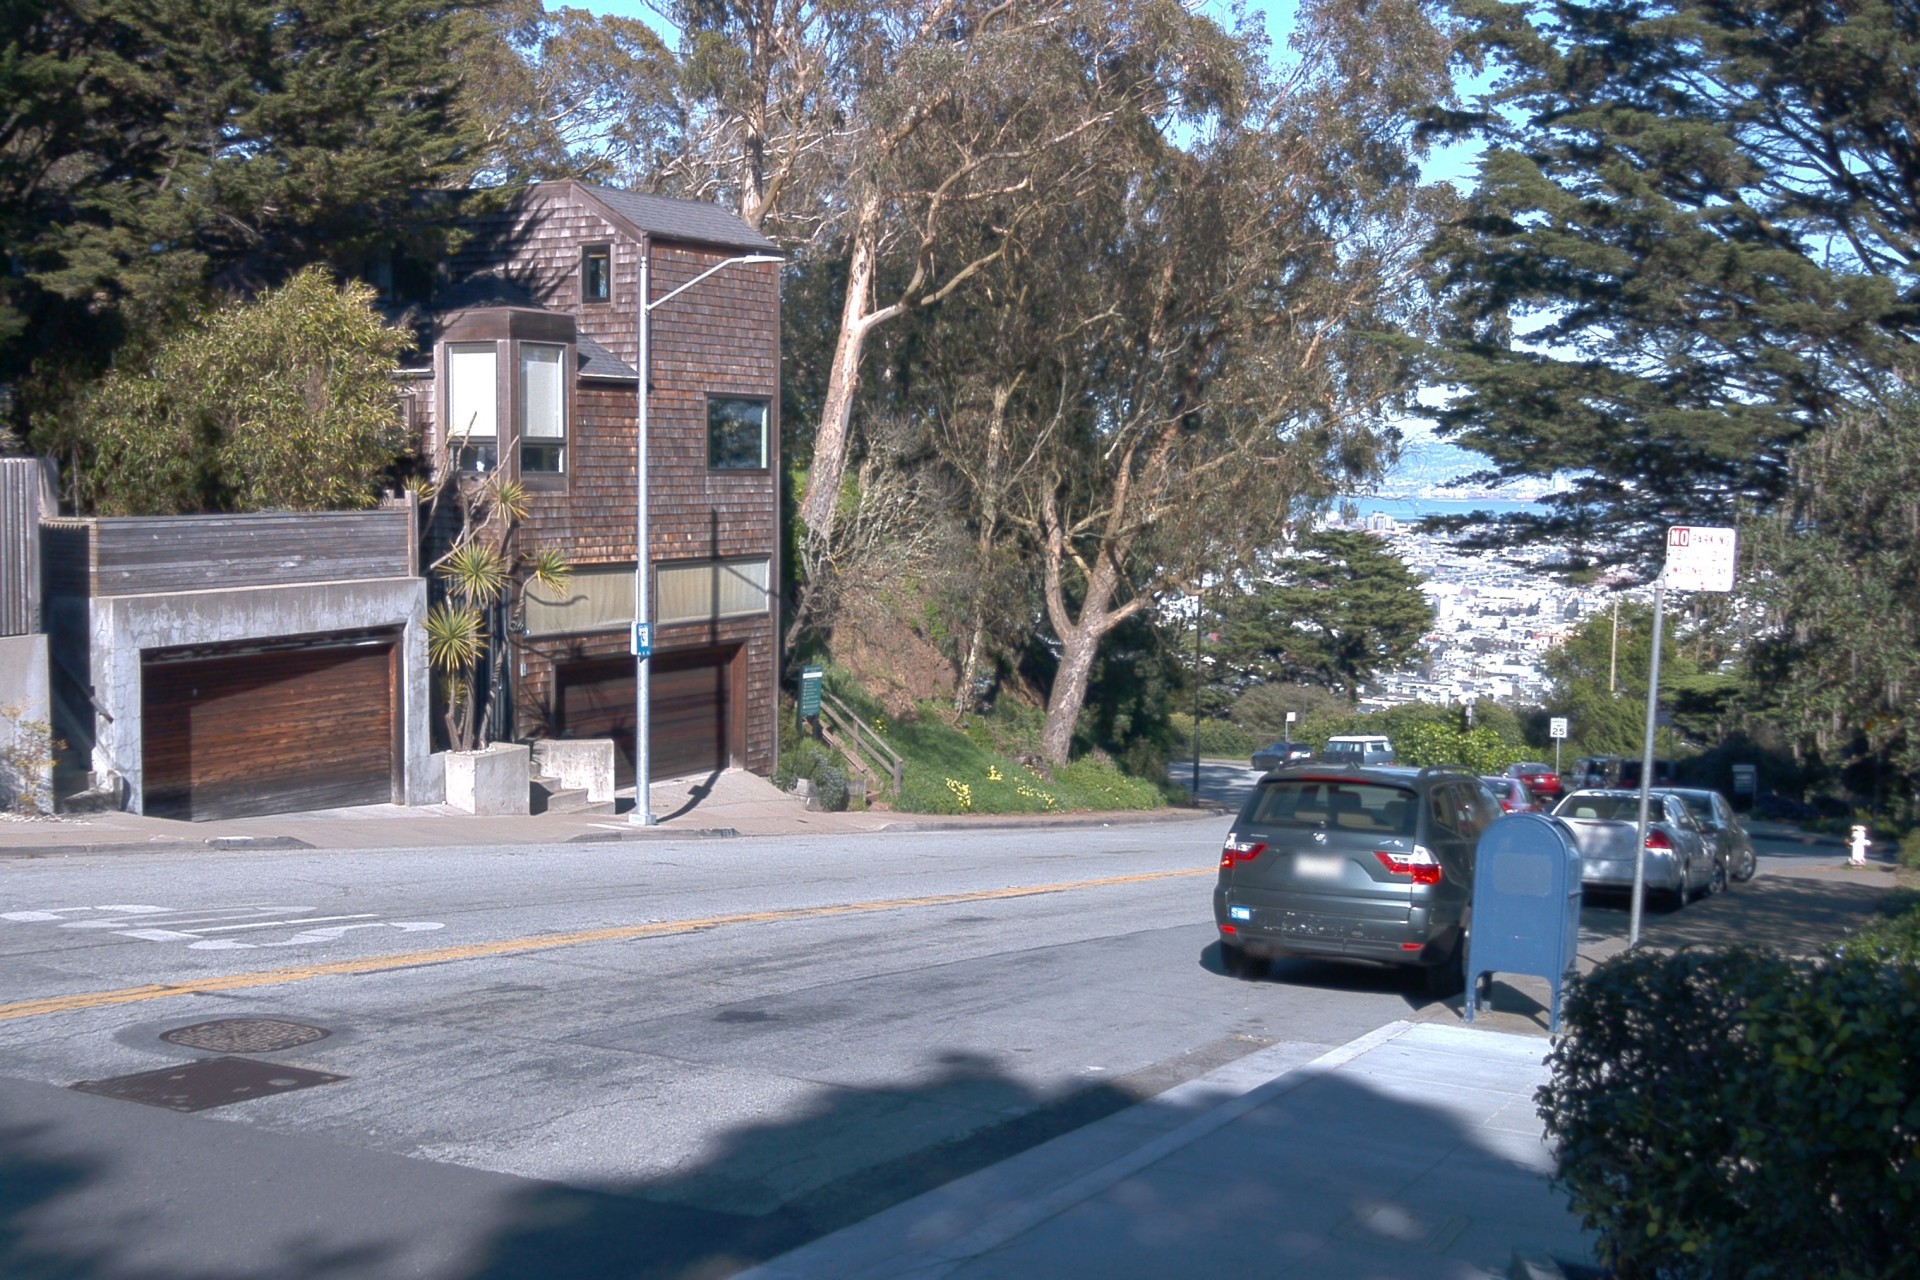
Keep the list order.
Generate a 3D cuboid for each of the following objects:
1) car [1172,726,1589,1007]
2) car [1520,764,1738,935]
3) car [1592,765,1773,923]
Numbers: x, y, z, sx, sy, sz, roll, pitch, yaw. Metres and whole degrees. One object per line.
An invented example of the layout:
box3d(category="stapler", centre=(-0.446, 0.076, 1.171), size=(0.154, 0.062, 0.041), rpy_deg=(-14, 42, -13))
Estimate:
box3d(category="car", centre=(3.433, 1.605, 16.366), size=(2.049, 1.690, 4.439), rpy_deg=(1, 0, 27))
box3d(category="car", centre=(8.587, 2.570, 26.666), size=(1.892, 1.720, 4.340), rpy_deg=(1, 0, 28))
box3d(category="car", centre=(11.140, 3.035, 32.113), size=(2.060, 1.950, 4.544), rpy_deg=(1, 0, 26))
